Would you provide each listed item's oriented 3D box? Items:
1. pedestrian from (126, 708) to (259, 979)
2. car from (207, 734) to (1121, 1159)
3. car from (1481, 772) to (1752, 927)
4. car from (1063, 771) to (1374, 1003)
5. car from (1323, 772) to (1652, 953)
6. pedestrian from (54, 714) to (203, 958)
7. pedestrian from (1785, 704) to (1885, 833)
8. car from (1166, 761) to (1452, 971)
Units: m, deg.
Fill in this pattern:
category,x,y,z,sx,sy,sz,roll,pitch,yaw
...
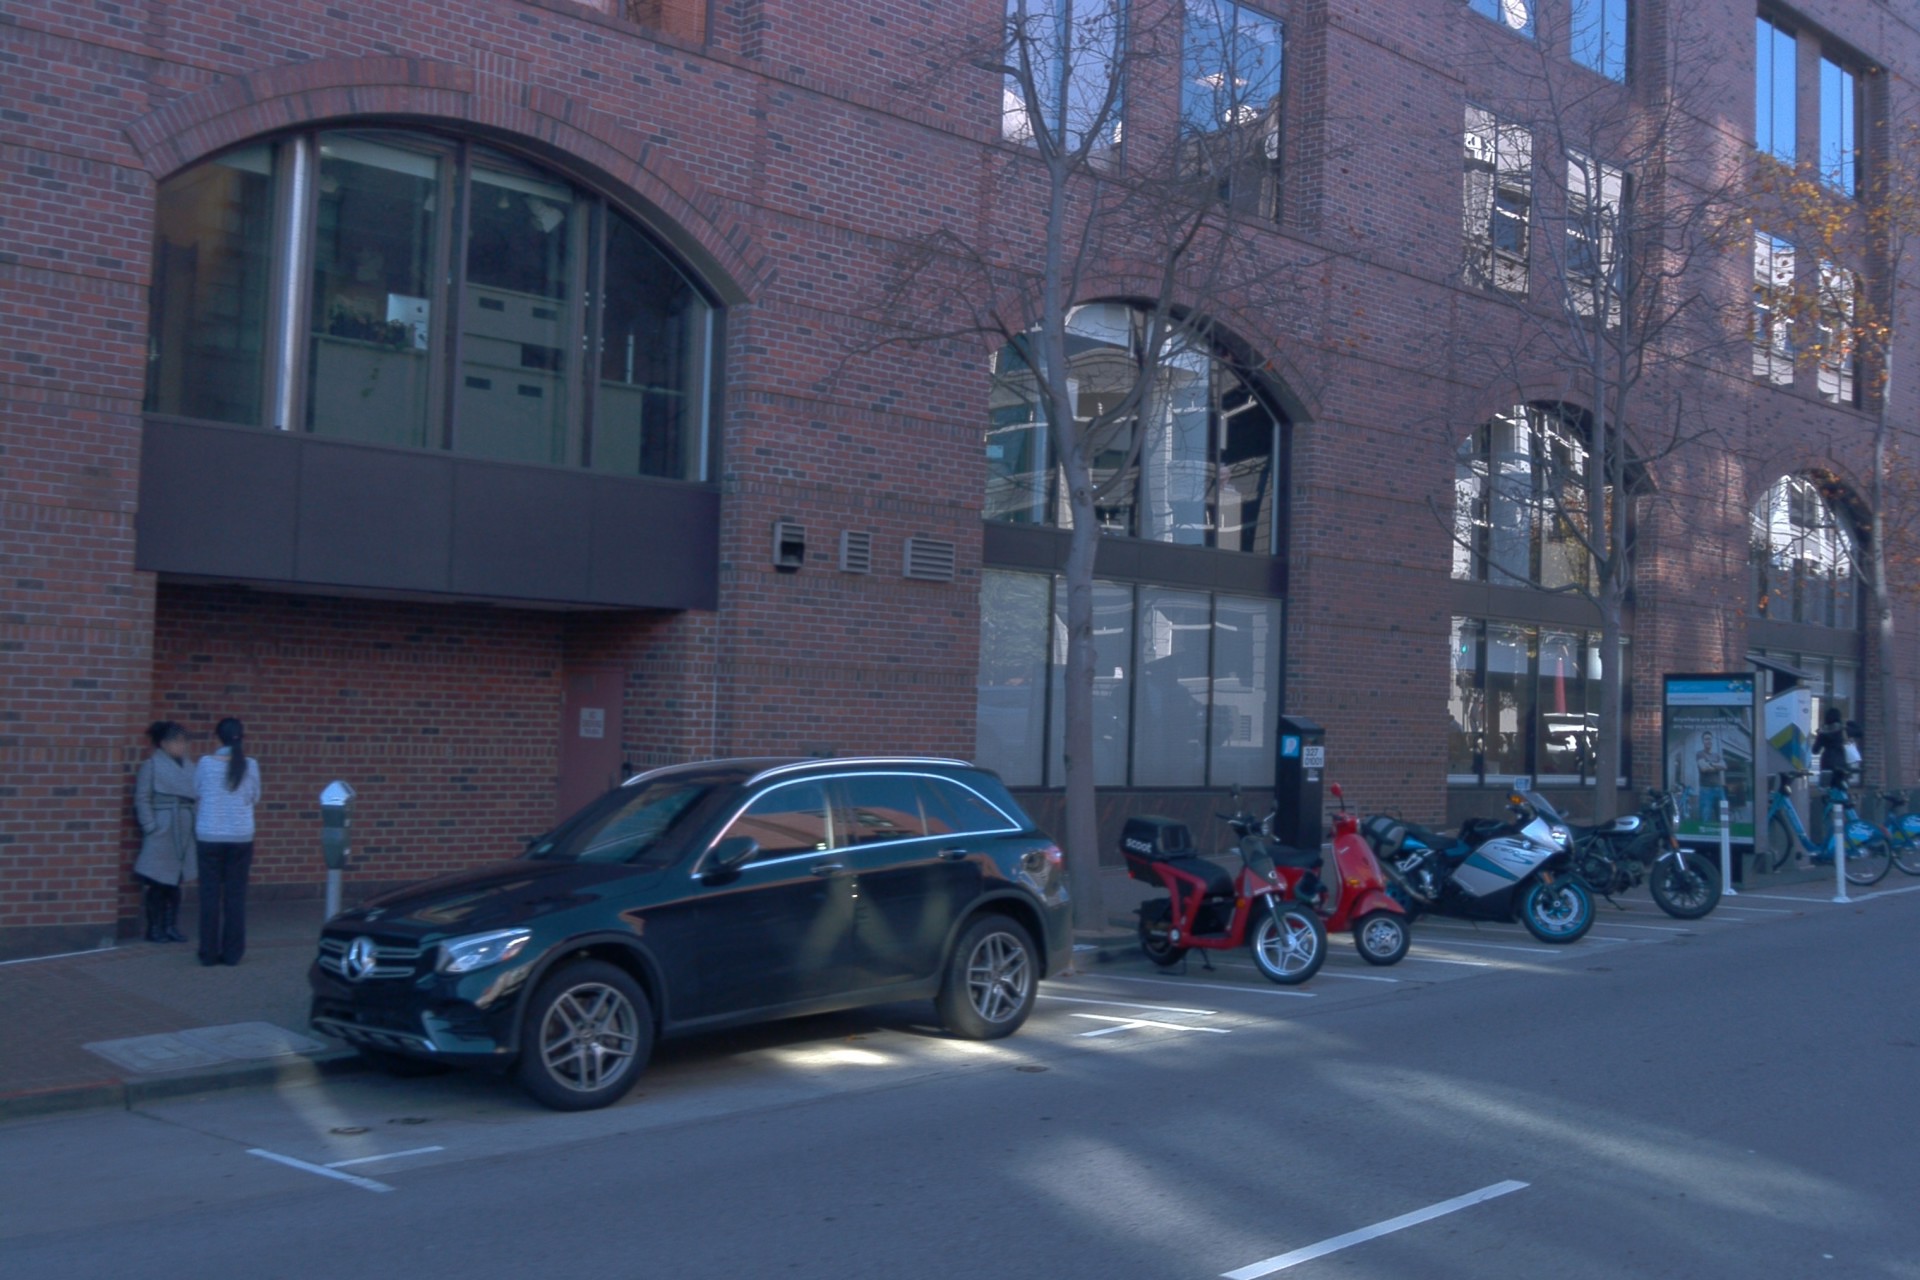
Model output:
category,x,y,z,sx,sy,sz,roll,pitch,yaw
pedestrian,-4.962,1.283,13.413,0.729,1.670,0.730,1,-1,-24
car,-1.446,1.470,11.645,2.084,1.740,4.749,0,-1,45
car,5.960,1.870,18.933,2.157,1.210,0.934,0,-1,44
car,1.809,1.695,14.767,1.058,1.400,2.003,2,-1,-39
car,4.345,1.792,17.251,1.096,1.250,2.419,2,-1,-45
pedestrian,-5.631,1.300,14.064,0.627,1.570,0.715,0,-1,45
pedestrian,12.137,1.758,28.797,0.980,1.710,0.993,0,-1,45
car,2.611,1.655,15.699,0.964,1.370,1.946,2,-1,-42
